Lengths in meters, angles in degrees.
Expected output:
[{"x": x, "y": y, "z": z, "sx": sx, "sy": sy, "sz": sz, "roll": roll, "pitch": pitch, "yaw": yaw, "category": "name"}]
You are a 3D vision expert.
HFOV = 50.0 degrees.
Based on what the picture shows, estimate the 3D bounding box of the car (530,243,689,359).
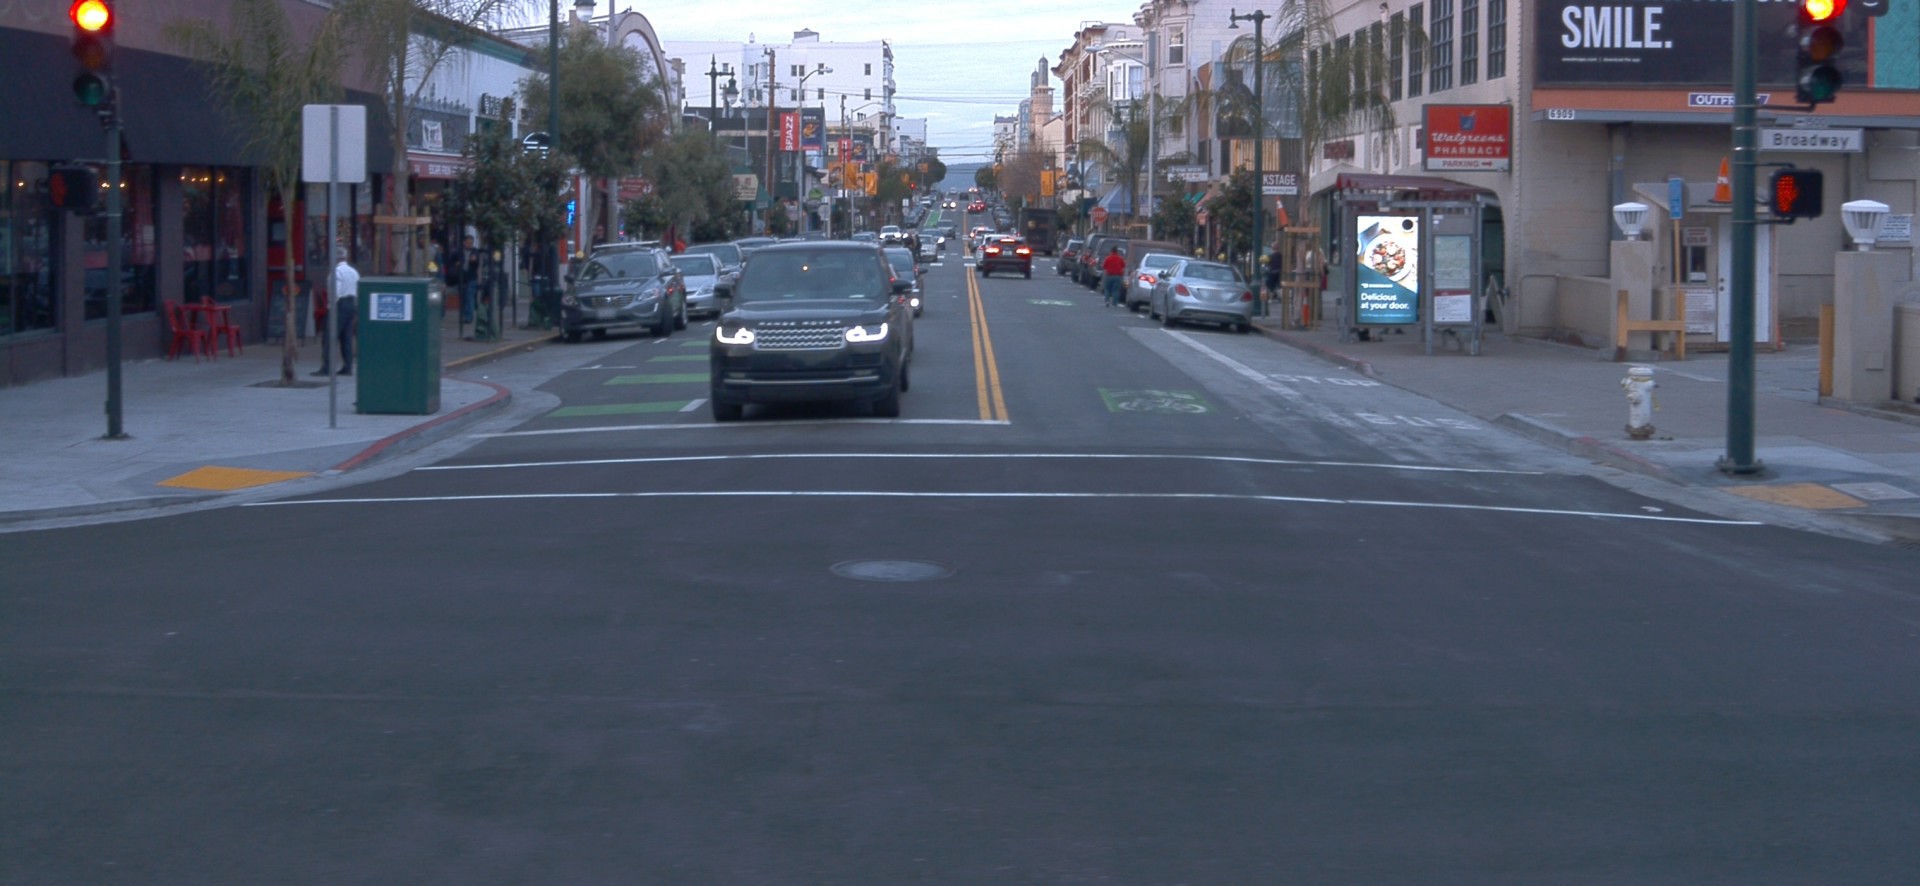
[{"x": -6.407, "y": -2.703, "z": 38.186, "sx": 2.175, "sy": 1.910, "sz": 4.798, "roll": 0, "pitch": 6, "yaw": -1, "category": "car"}]

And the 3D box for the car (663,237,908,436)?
[{"x": -1.796, "y": -1.316, "z": 23.007, "sx": 2.217, "sy": 1.880, "sz": 5.219, "roll": 0, "pitch": 6, "yaw": 1, "category": "car"}]

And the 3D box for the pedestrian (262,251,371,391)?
[{"x": -8.257, "y": -1.584, "z": 26.452, "sx": 0.881, "sy": 1.726, "sz": 1.029, "roll": 1, "pitch": 3, "yaw": 23, "category": "pedestrian"}]

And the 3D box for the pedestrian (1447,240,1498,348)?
[{"x": 9.178, "y": -2.687, "z": 36.904, "sx": 0.782, "sy": 1.896, "sz": 0.786, "roll": 0, "pitch": 2, "yaw": 7, "category": "pedestrian"}]

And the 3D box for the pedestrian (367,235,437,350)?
[{"x": -9.432, "y": -2.559, "z": 34.823, "sx": 1.010, "sy": 1.895, "sz": 0.916, "roll": 0, "pitch": 2, "yaw": -6, "category": "pedestrian"}]
